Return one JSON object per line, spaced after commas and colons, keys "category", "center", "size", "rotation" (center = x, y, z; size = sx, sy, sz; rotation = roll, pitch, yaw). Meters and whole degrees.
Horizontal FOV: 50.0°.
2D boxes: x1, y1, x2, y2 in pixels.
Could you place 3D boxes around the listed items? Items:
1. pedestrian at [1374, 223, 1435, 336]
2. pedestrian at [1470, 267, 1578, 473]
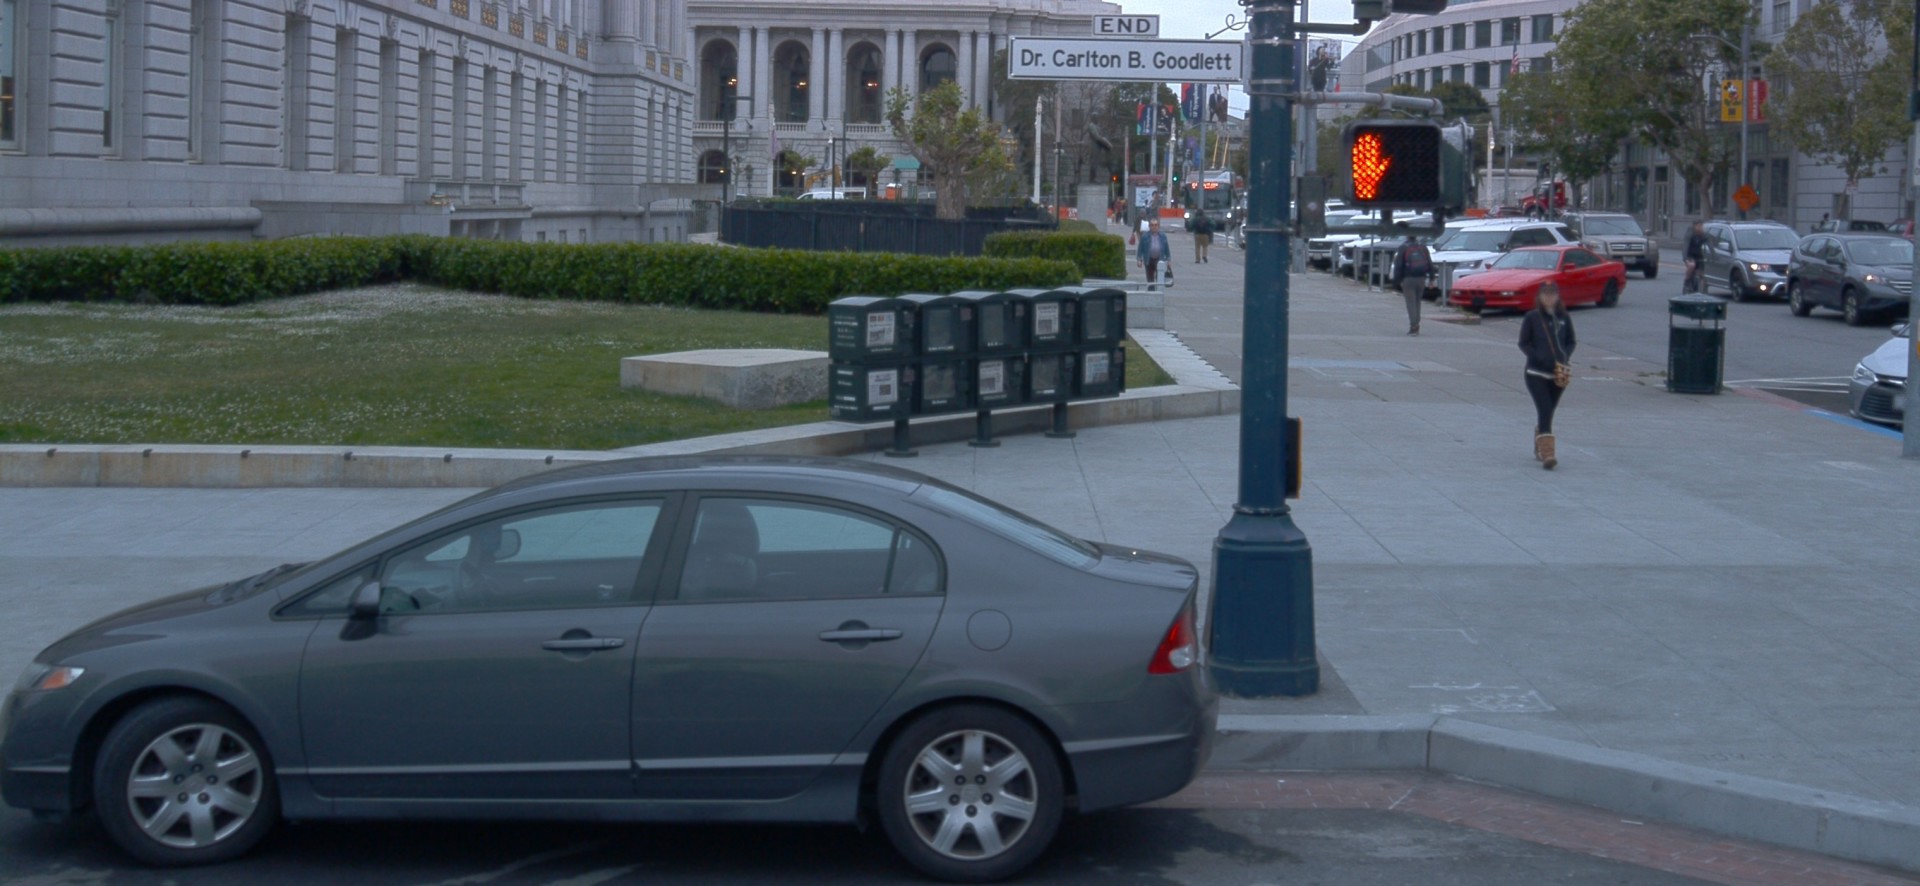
{"category": "pedestrian", "center": [7.348, -2.719, 34.046], "size": [0.801, 1.847, 0.879], "rotation": [0, 2, -2]}
{"category": "pedestrian", "center": [4.764, -0.641, 17.422], "size": [0.668, 1.678, 0.873], "rotation": [0, 2, 0]}
